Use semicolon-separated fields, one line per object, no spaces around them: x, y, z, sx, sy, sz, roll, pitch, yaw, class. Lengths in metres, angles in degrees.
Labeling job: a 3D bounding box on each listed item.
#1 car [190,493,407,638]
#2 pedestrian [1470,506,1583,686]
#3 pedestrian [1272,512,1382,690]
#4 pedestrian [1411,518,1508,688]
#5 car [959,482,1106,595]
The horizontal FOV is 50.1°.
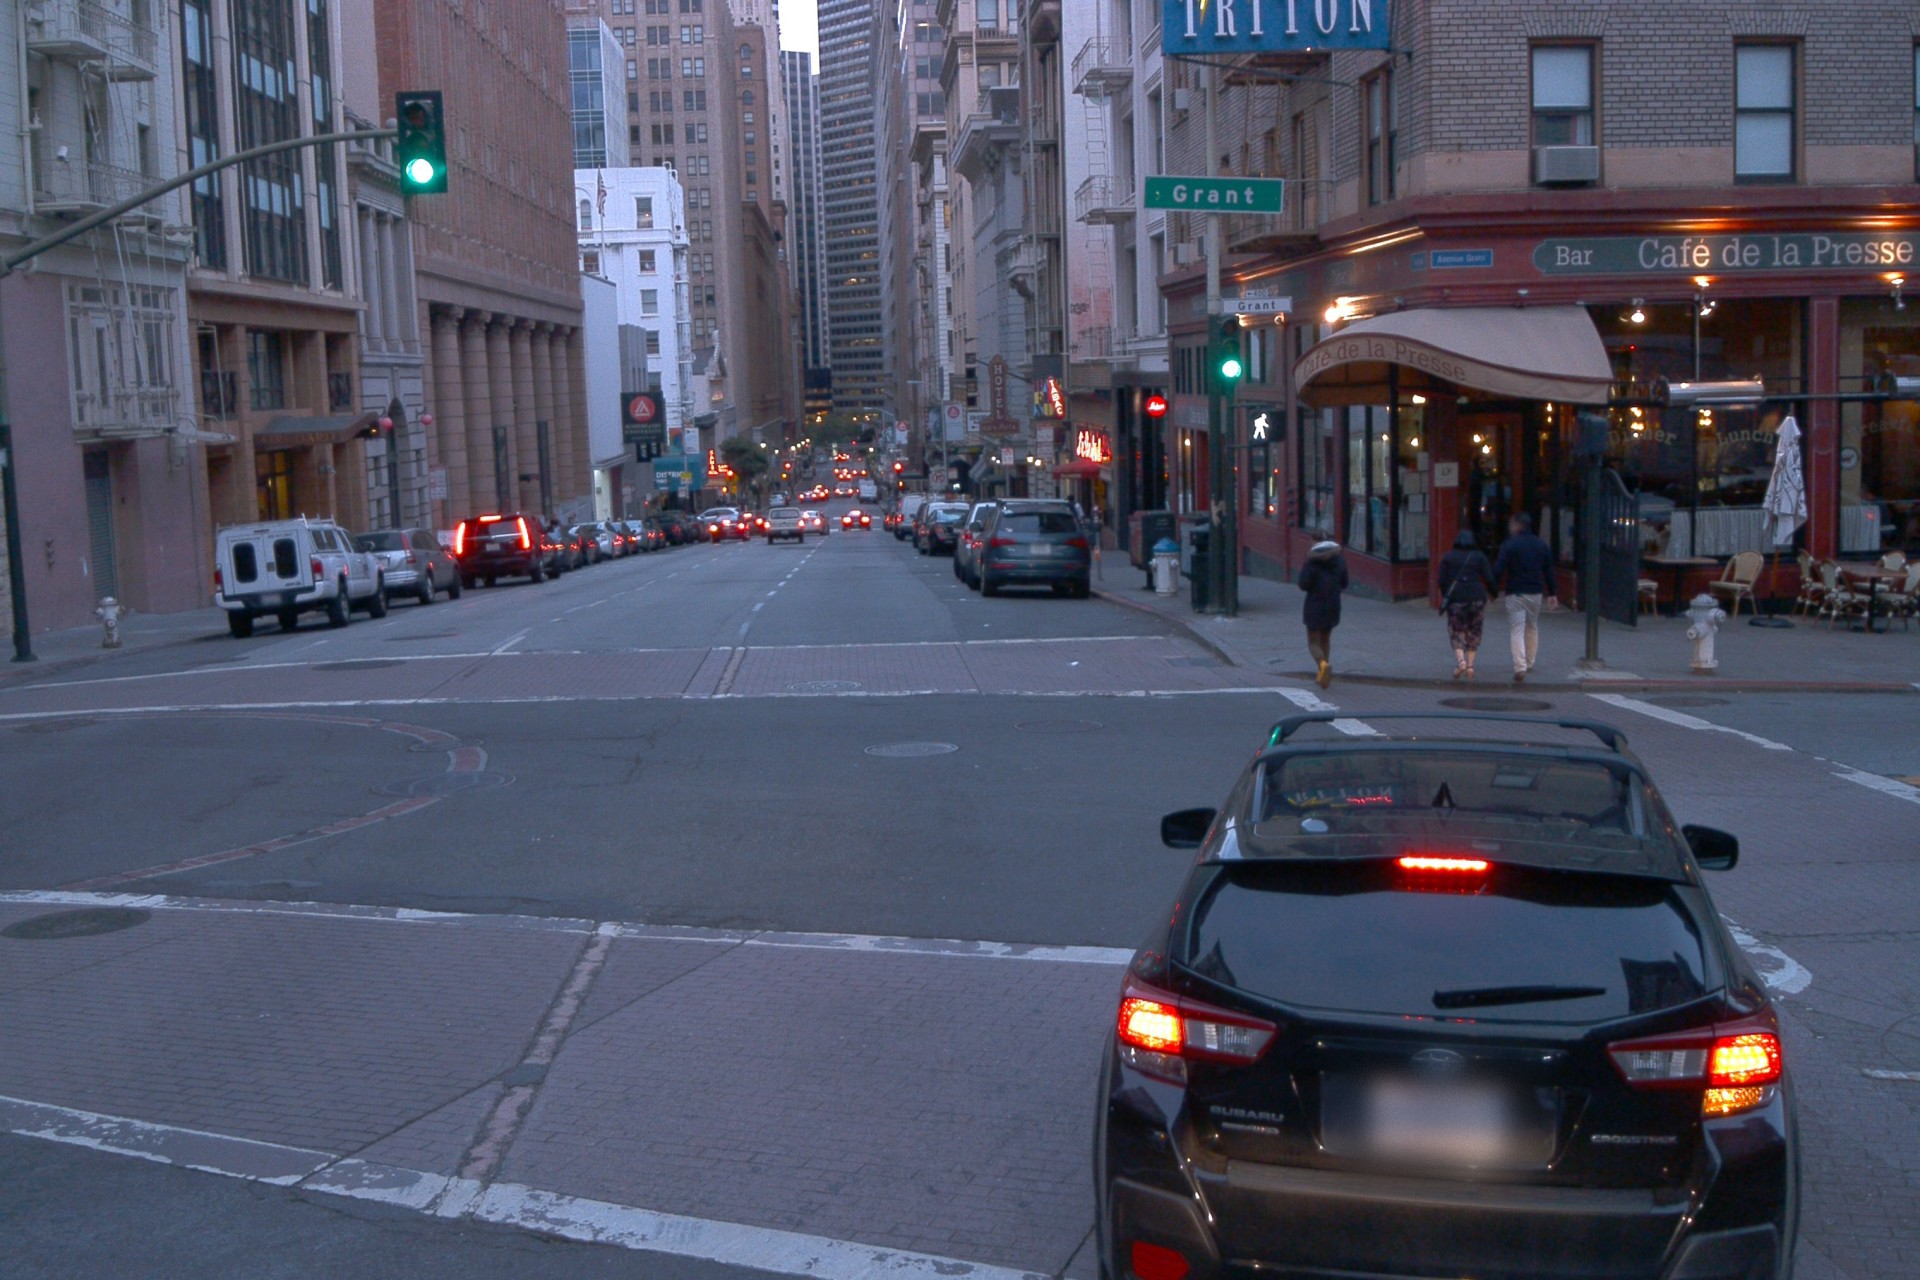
-11.245;-1.218;35.399;2.286;2.294;5.437;0;1;-4;car
5.681;-0.439;20.670;0.840;1.766;0.955;0;1;-2;pedestrian
3.696;-0.392;20.784;0.906;1.756;1.063;0;1;0;pedestrian
4.994;-0.366;20.596;0.767;1.656;0.957;0;1;2;pedestrian
1.224;-1.772;37.074;2.214;1.850;4.837;0;1;-3;car
